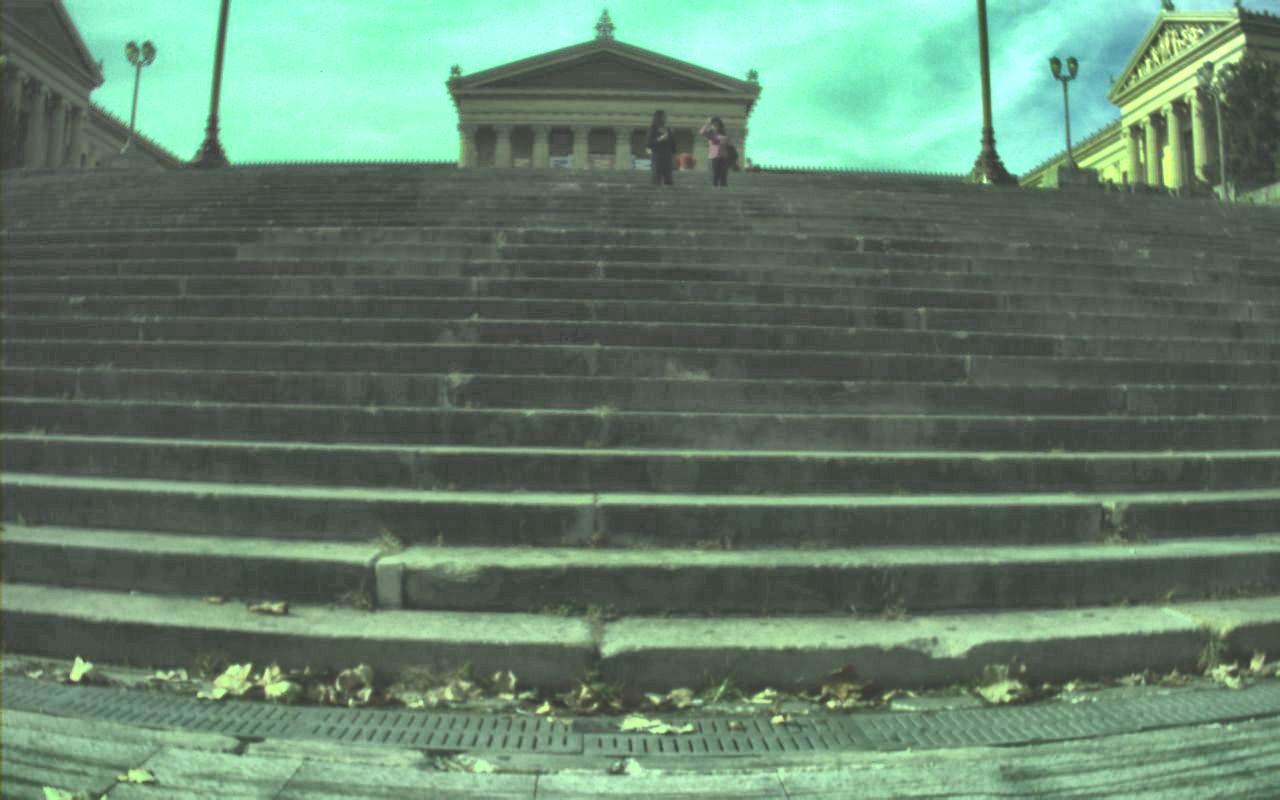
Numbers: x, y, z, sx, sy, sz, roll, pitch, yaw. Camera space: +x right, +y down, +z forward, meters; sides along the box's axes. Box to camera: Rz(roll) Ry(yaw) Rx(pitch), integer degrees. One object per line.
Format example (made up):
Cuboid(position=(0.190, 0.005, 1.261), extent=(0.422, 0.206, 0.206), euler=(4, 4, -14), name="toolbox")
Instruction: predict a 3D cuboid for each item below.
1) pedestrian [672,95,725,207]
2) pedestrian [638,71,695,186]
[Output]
Cuboid(position=(0.981, -4.186, 21.101), extent=(0.690, 1.783, 0.676), euler=(0, 0, -19), name="pedestrian")
Cuboid(position=(0.446, -4.481, 20.676), extent=(0.687, 1.801, 0.681), euler=(1, 0, 30), name="pedestrian")
